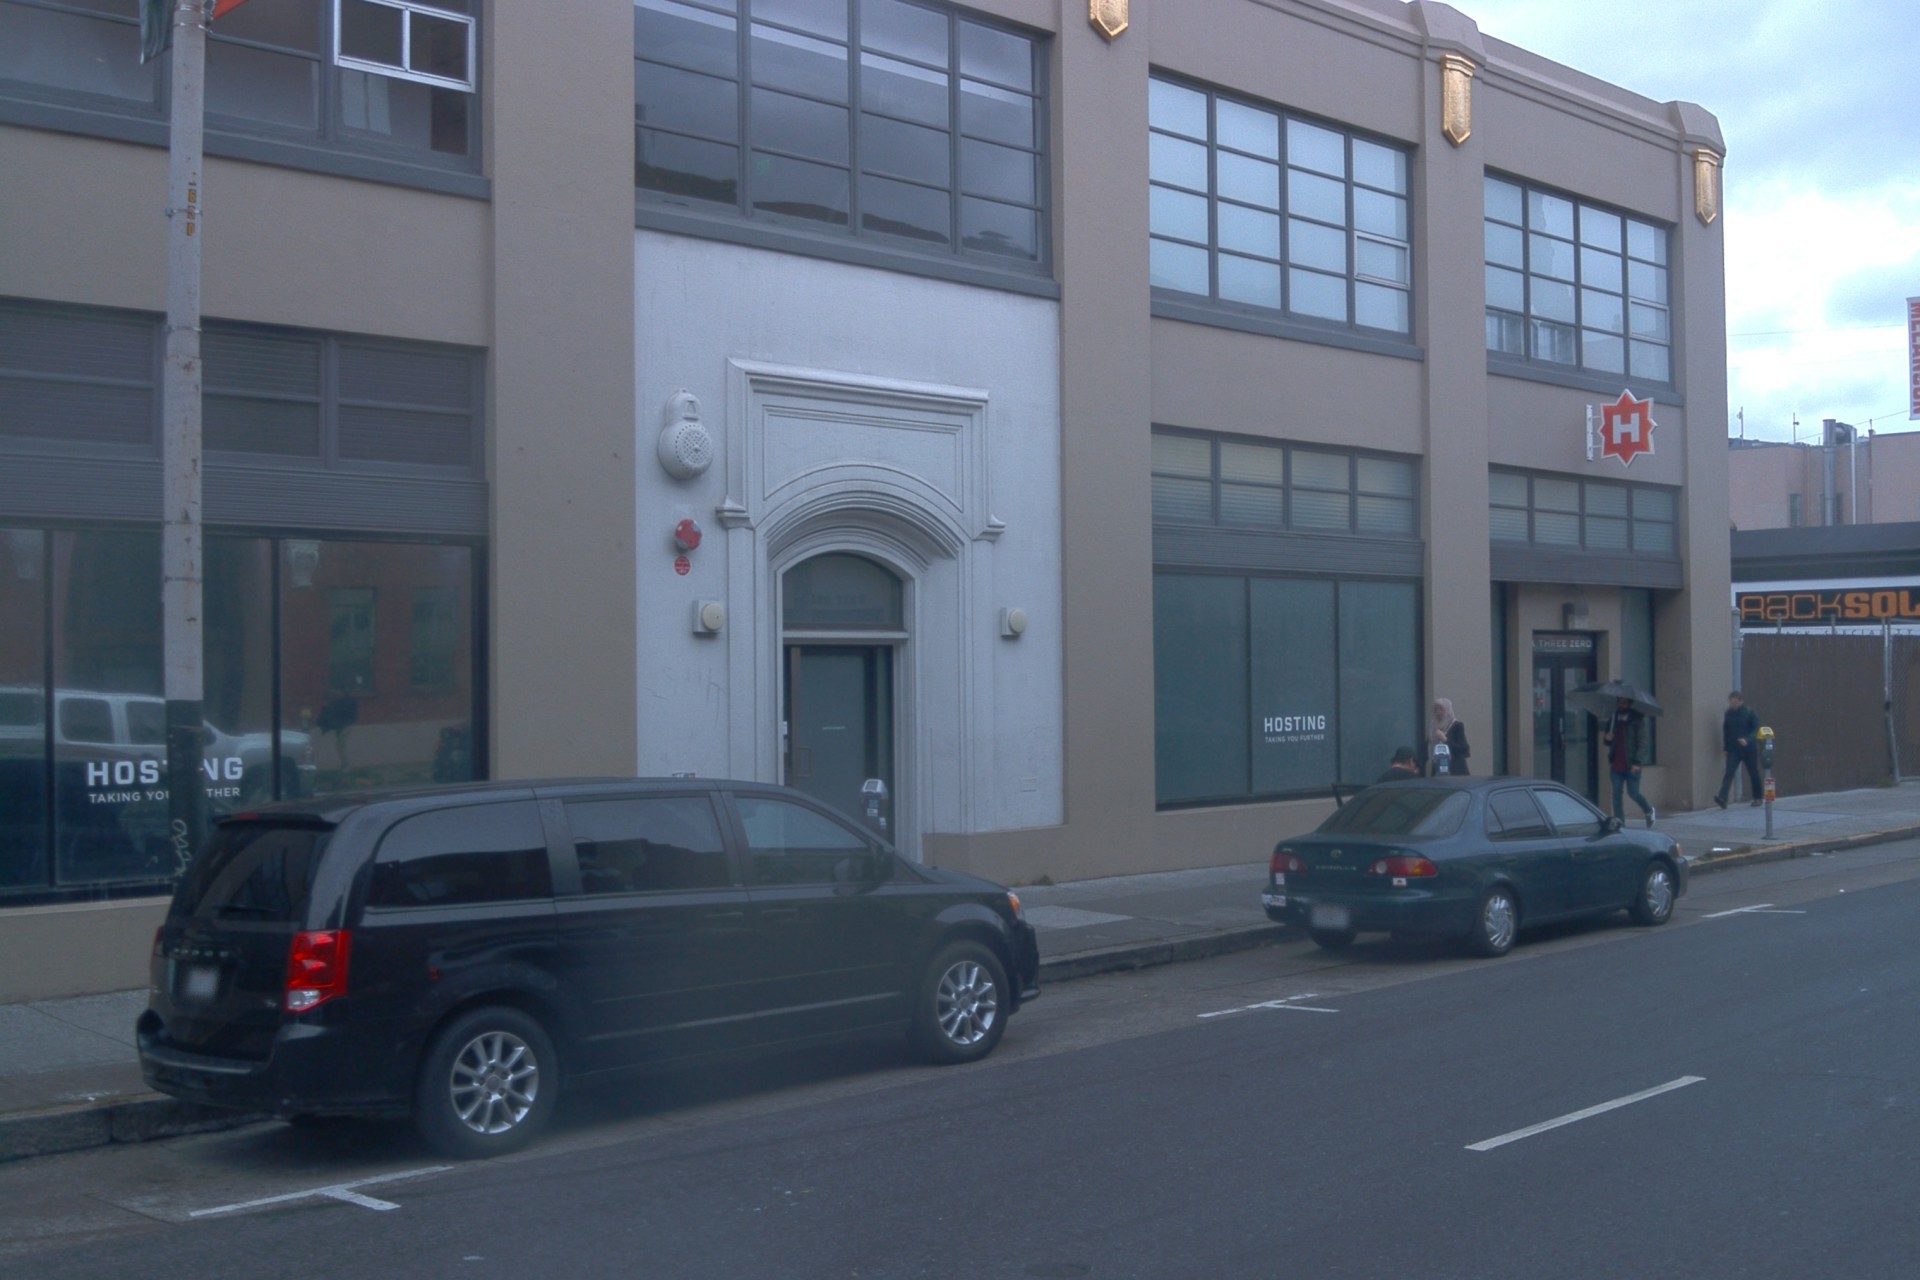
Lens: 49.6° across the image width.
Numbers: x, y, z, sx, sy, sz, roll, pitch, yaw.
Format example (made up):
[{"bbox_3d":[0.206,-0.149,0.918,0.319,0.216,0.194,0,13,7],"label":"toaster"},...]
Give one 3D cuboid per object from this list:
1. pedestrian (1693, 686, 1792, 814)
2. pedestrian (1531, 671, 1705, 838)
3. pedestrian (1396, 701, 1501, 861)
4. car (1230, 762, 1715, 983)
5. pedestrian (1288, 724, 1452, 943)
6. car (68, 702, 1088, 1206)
[{"bbox_3d":[10.914,1.516,29.003,1.083,1.708,0.924,0,0,-45],"label":"pedestrian"},{"bbox_3d":[8.136,1.375,25.721,1.513,1.950,1.495,0,0,-42],"label":"pedestrian"},{"bbox_3d":[5.557,1.580,23.663,0.852,1.740,0.841,0,0,-44],"label":"pedestrian"},{"bbox_3d":[4.285,1.782,16.985,4.350,1.328,1.799,0,0,-44],"label":"car"},{"bbox_3d":[3.544,1.638,18.004,0.863,1.767,1.101,0,0,-44],"label":"pedestrian"},{"bbox_3d":[-1.806,1.389,11.236,5.129,1.960,2.084,0,0,-44],"label":"car"}]
